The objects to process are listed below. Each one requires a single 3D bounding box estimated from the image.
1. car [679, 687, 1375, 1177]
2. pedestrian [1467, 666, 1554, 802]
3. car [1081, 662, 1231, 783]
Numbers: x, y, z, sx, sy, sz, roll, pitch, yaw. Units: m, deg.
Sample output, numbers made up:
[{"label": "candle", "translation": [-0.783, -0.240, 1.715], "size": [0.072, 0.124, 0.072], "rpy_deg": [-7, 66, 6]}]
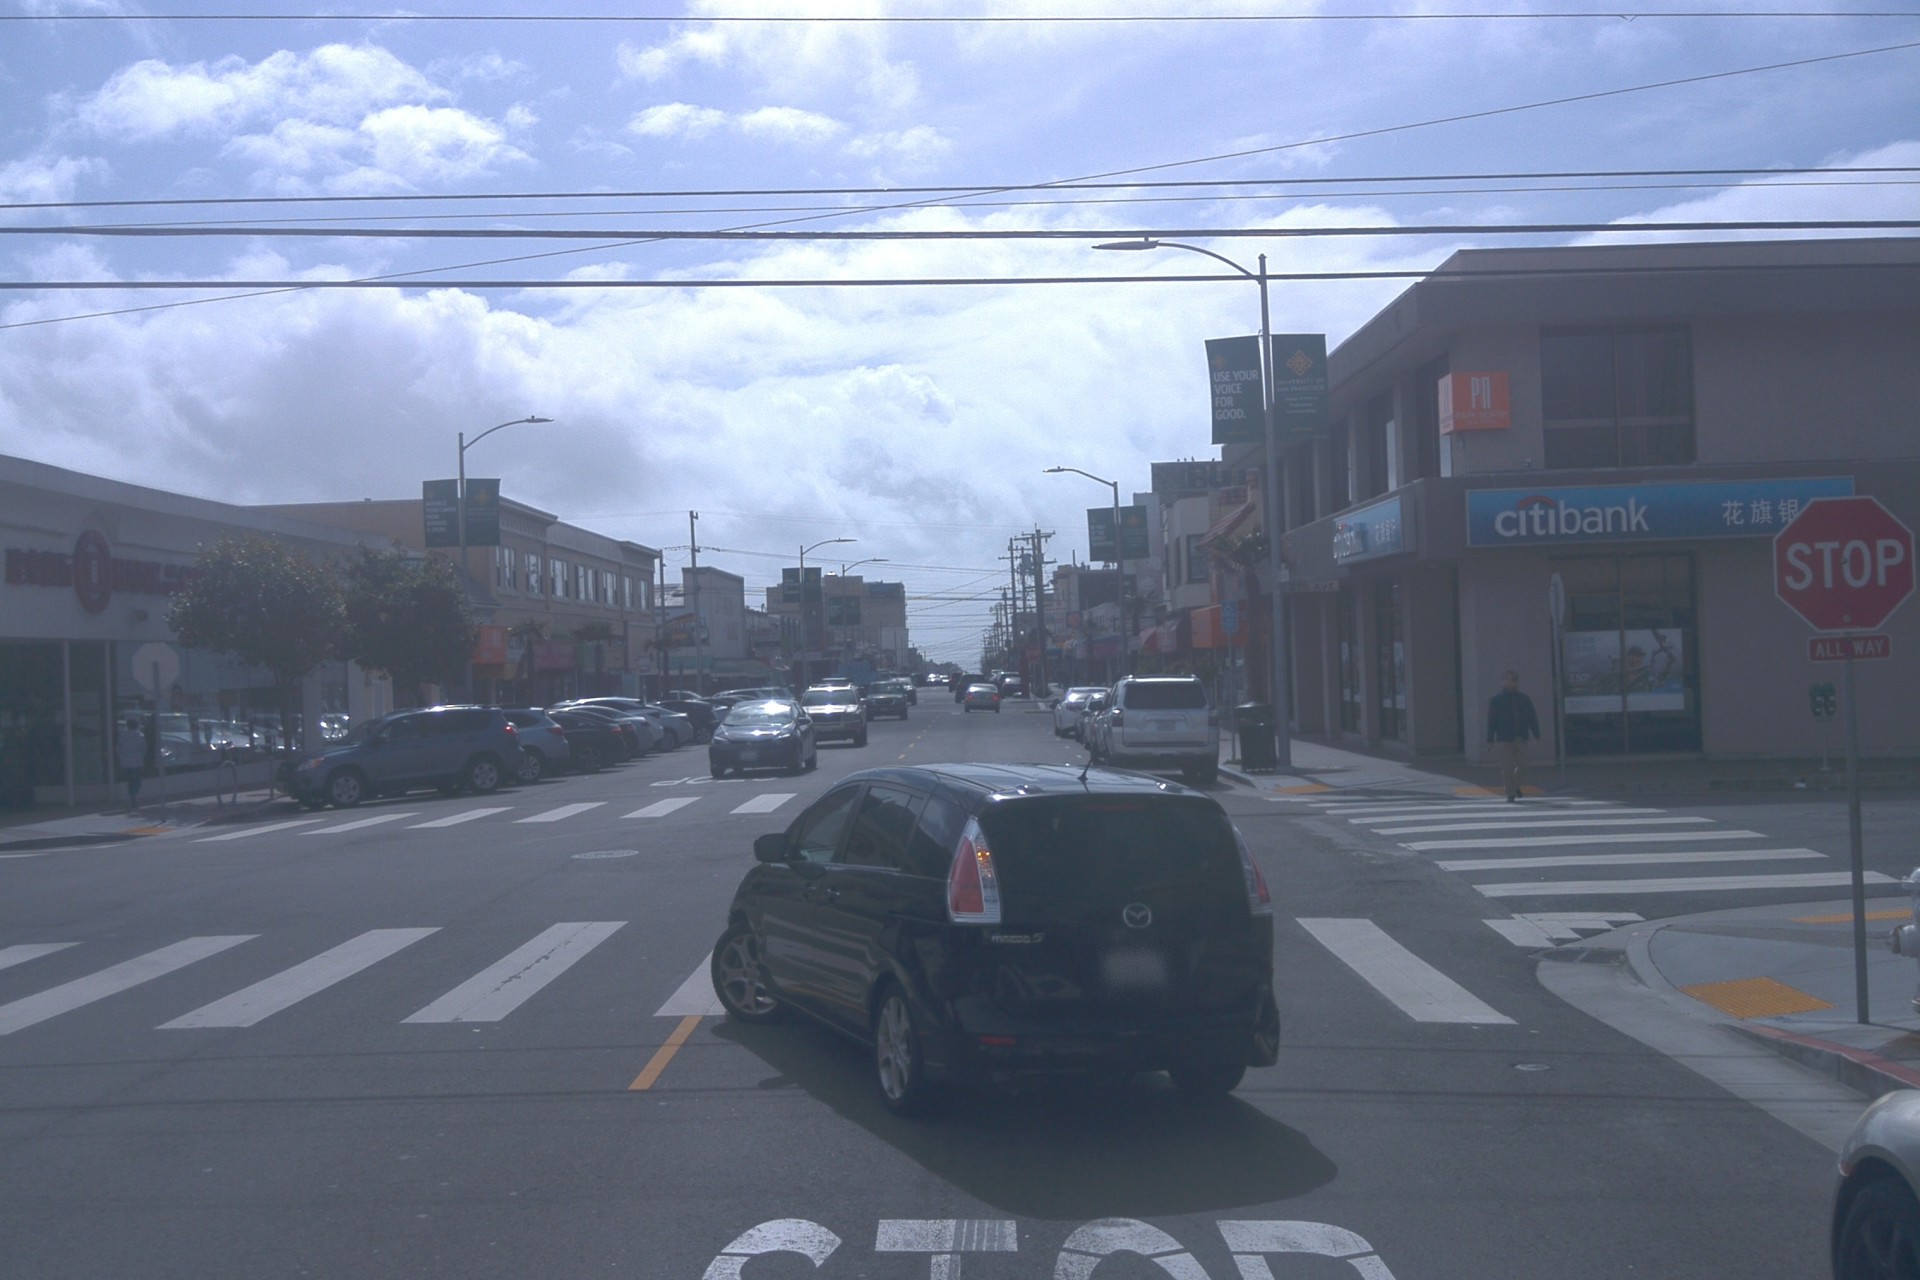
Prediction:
[{"label": "car", "translation": [0.060, 1.260, 11.056], "size": [2.099, 1.972, 4.565], "rpy_deg": [0, -1, -21]}, {"label": "pedestrian", "translation": [7.174, 1.215, 27.061], "size": [0.849, 1.734, 0.948], "rpy_deg": [0, -1, -2]}, {"label": "car", "translation": [3.346, 1.384, 36.302], "size": [2.072, 1.977, 4.682], "rpy_deg": [0, -1, -1]}]
